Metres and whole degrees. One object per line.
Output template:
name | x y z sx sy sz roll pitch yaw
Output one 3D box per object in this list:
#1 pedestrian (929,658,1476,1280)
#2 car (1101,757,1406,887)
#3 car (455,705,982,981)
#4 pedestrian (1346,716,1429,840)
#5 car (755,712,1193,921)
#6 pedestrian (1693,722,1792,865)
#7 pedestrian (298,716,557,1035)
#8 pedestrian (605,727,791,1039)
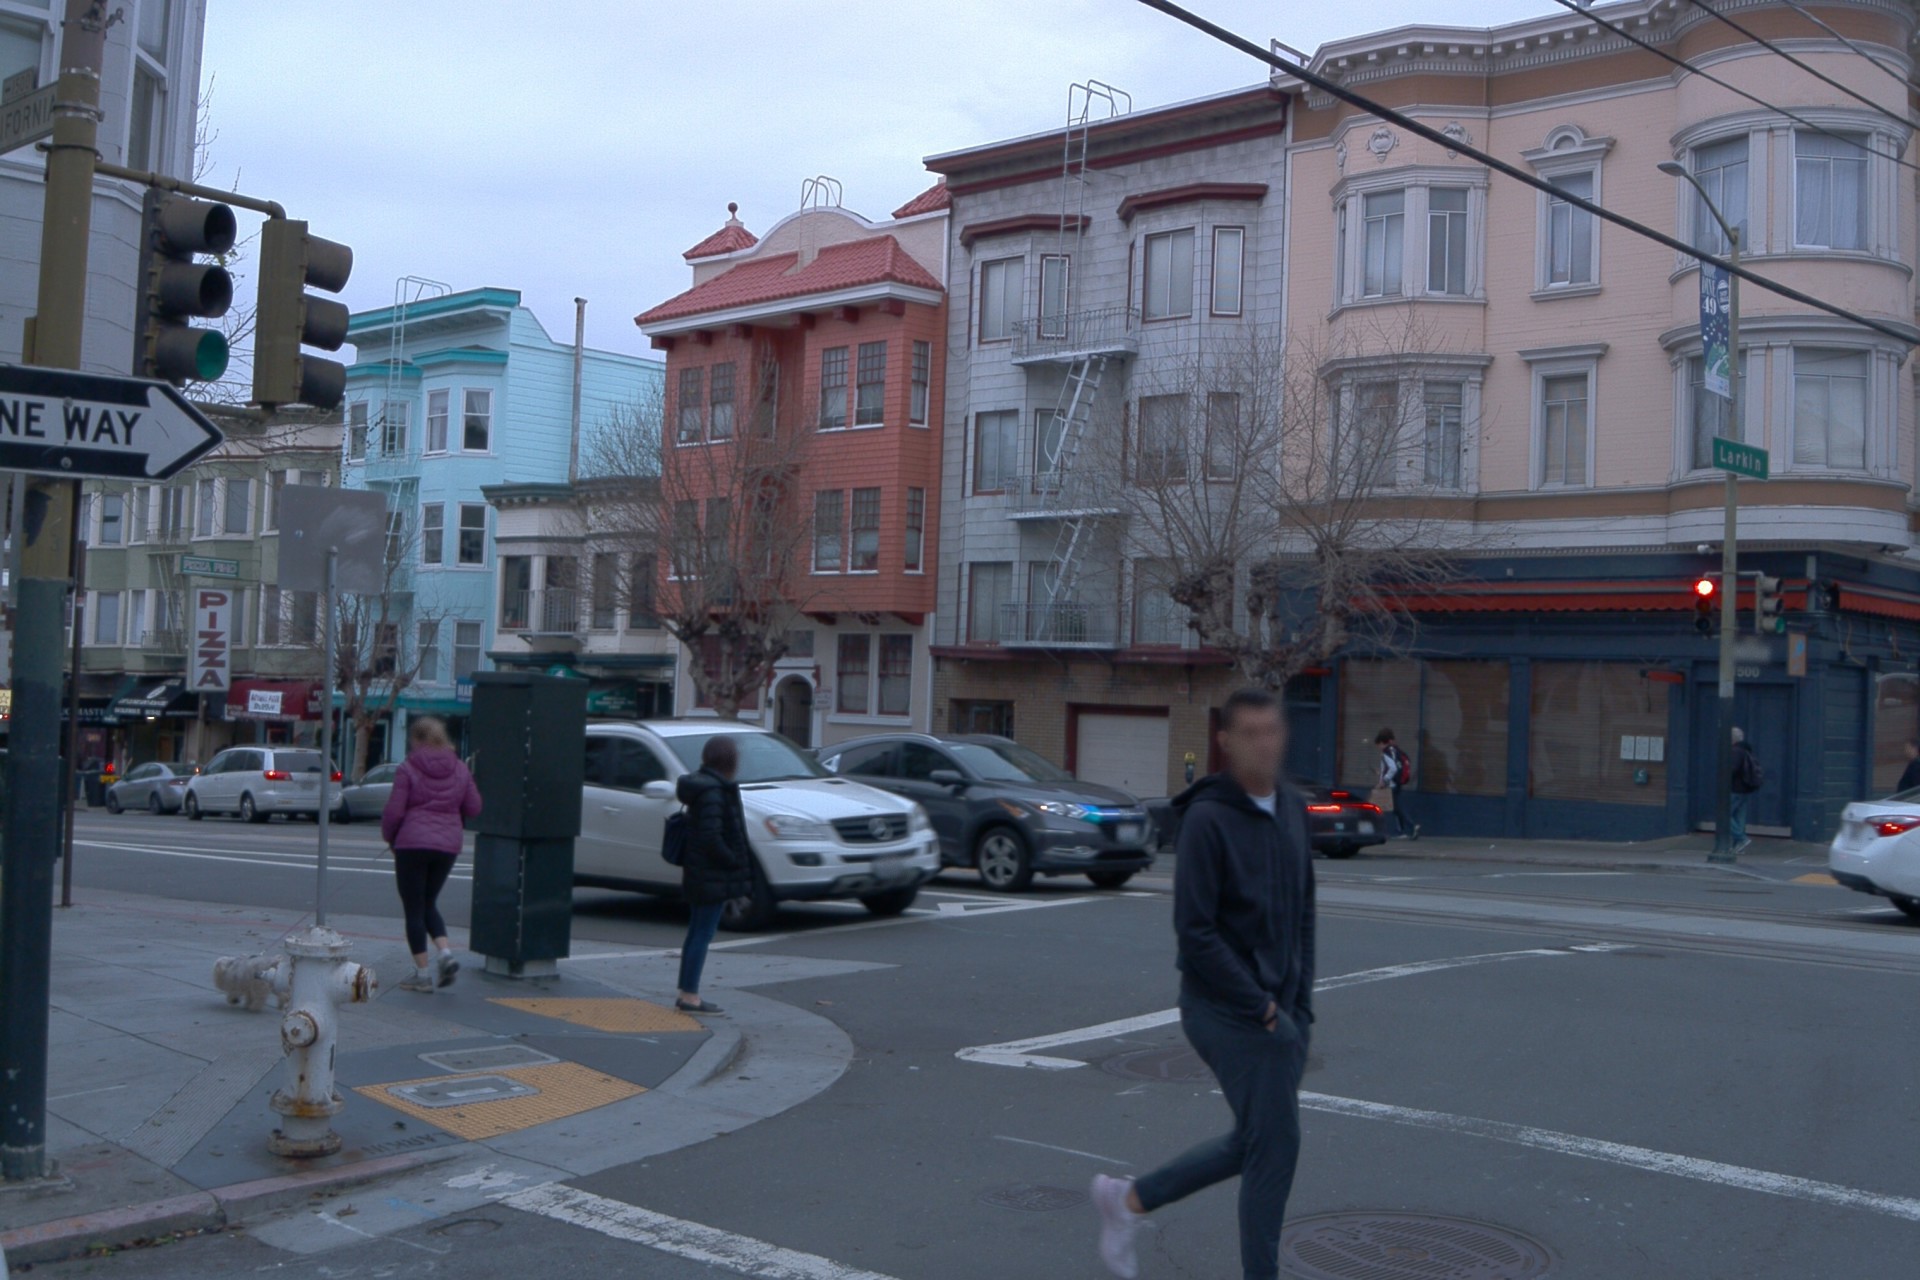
pedestrian | 0.722 1.108 6.338 1.453 2.066 0.820 1 1 40
car | 4.280 2.627 30.588 1.947 1.460 4.186 -1 1 -43
car | -2.304 1.677 18.709 4.831 1.930 2.166 1 1 44
pedestrian | 6.922 2.219 33.404 0.833 1.900 1.021 -1 1 -44
car | 0.069 1.729 21.536 4.348 1.720 2.049 1 1 44
pedestrian | 11.167 2.172 29.470 1.100 1.930 0.772 1 1 44
pedestrian | -3.067 1.299 11.877 1.180 1.640 0.944 1 1 43
pedestrian | -1.546 1.393 12.166 0.846 1.692 0.707 -1 1 -37
